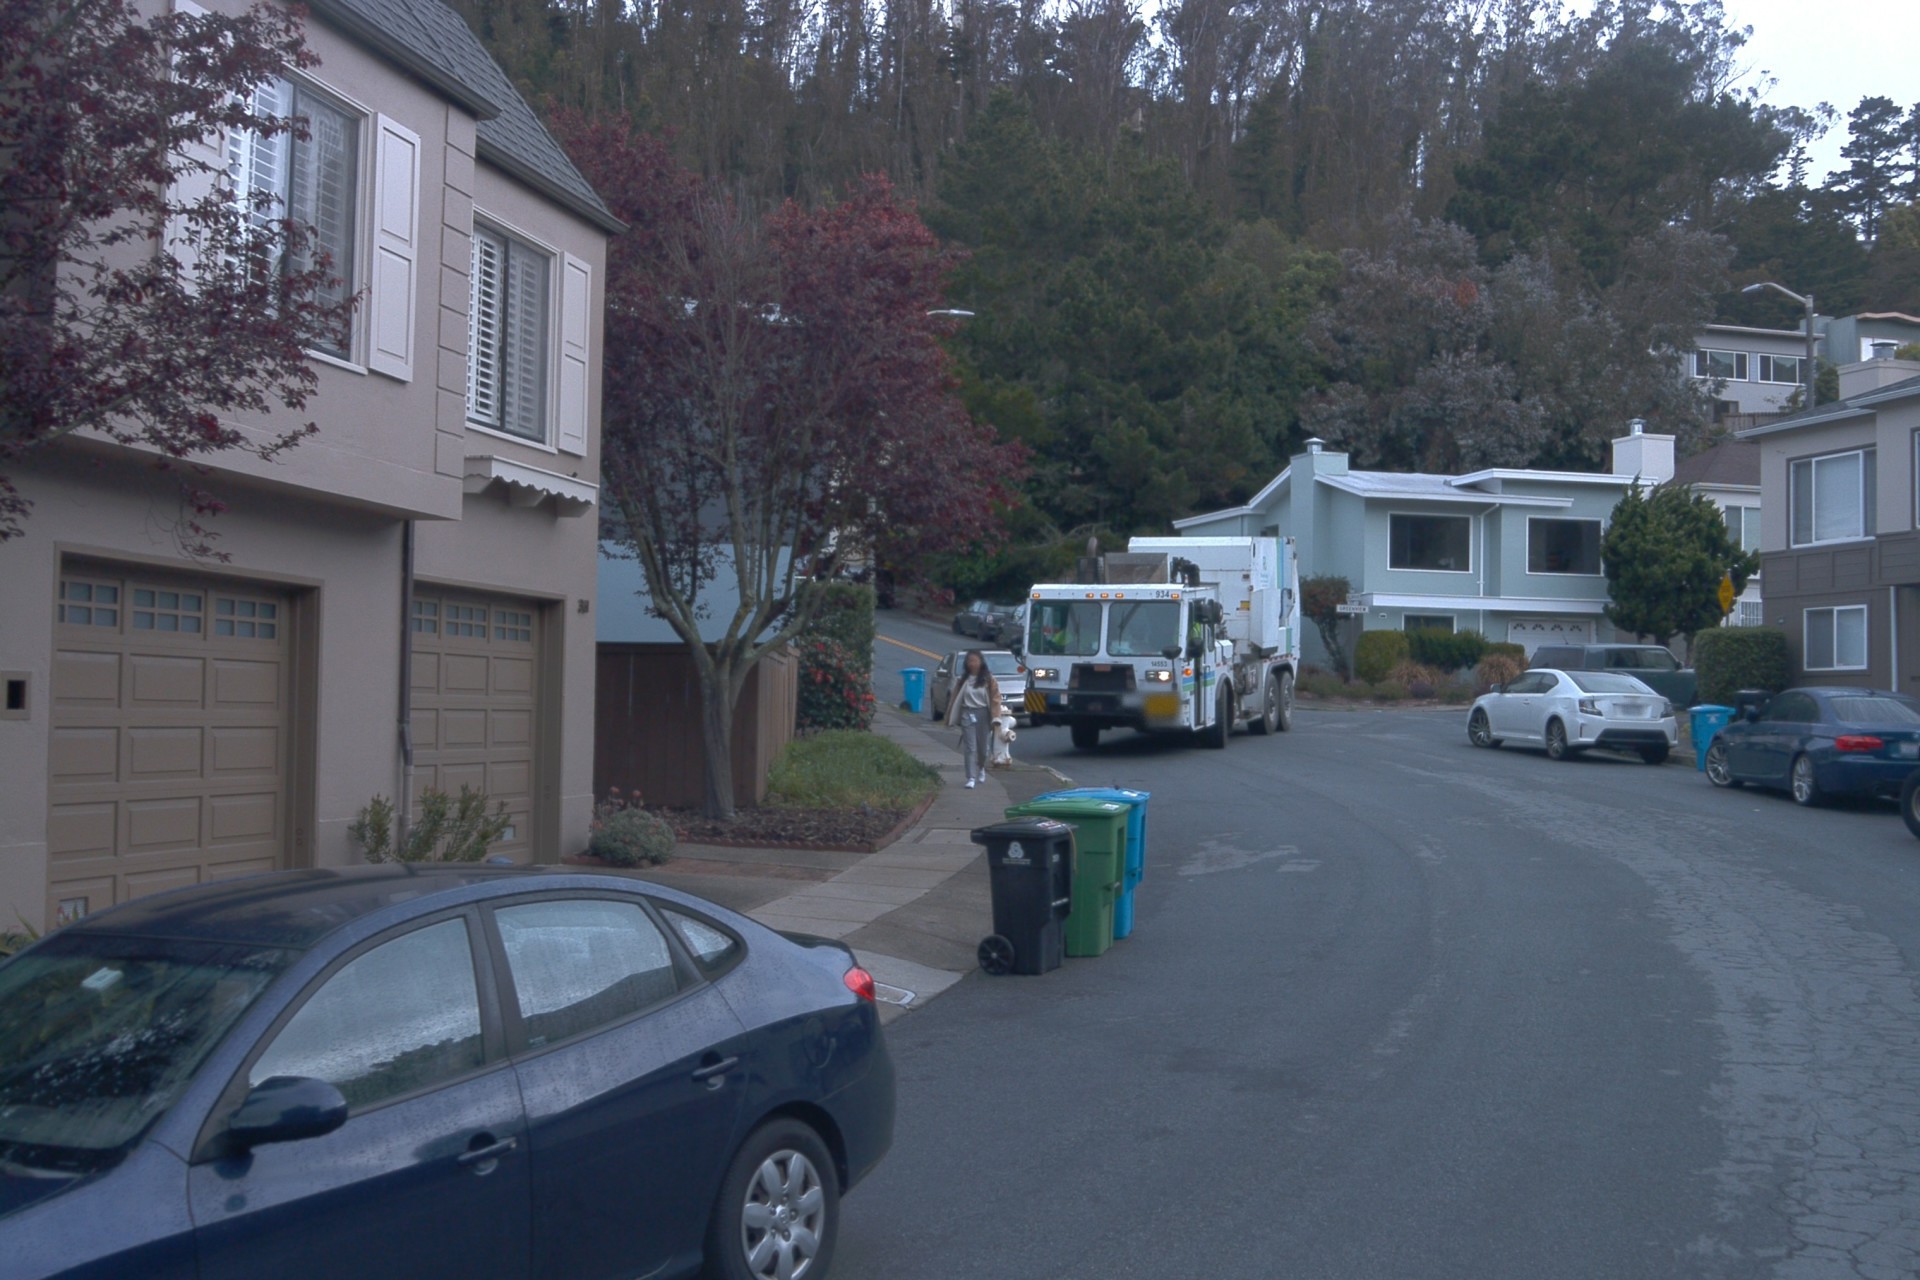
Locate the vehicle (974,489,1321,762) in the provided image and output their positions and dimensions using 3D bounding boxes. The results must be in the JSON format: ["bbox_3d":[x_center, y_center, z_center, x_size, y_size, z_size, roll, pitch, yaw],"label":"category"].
[{"bbox_3d":[3.575,-0.234,35.312,3.291,3.920,10.708,0,0,20],"label":"vehicle"}]

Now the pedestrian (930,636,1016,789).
[{"bbox_3d":[0.141,0.826,24.269,0.953,1.740,1.000,0,0,-2],"label":"pedestrian"}]

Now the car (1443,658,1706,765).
[{"bbox_3d":[9.805,1.096,33.506,2.210,1.540,4.527,0,0,-12],"label":"car"}]
